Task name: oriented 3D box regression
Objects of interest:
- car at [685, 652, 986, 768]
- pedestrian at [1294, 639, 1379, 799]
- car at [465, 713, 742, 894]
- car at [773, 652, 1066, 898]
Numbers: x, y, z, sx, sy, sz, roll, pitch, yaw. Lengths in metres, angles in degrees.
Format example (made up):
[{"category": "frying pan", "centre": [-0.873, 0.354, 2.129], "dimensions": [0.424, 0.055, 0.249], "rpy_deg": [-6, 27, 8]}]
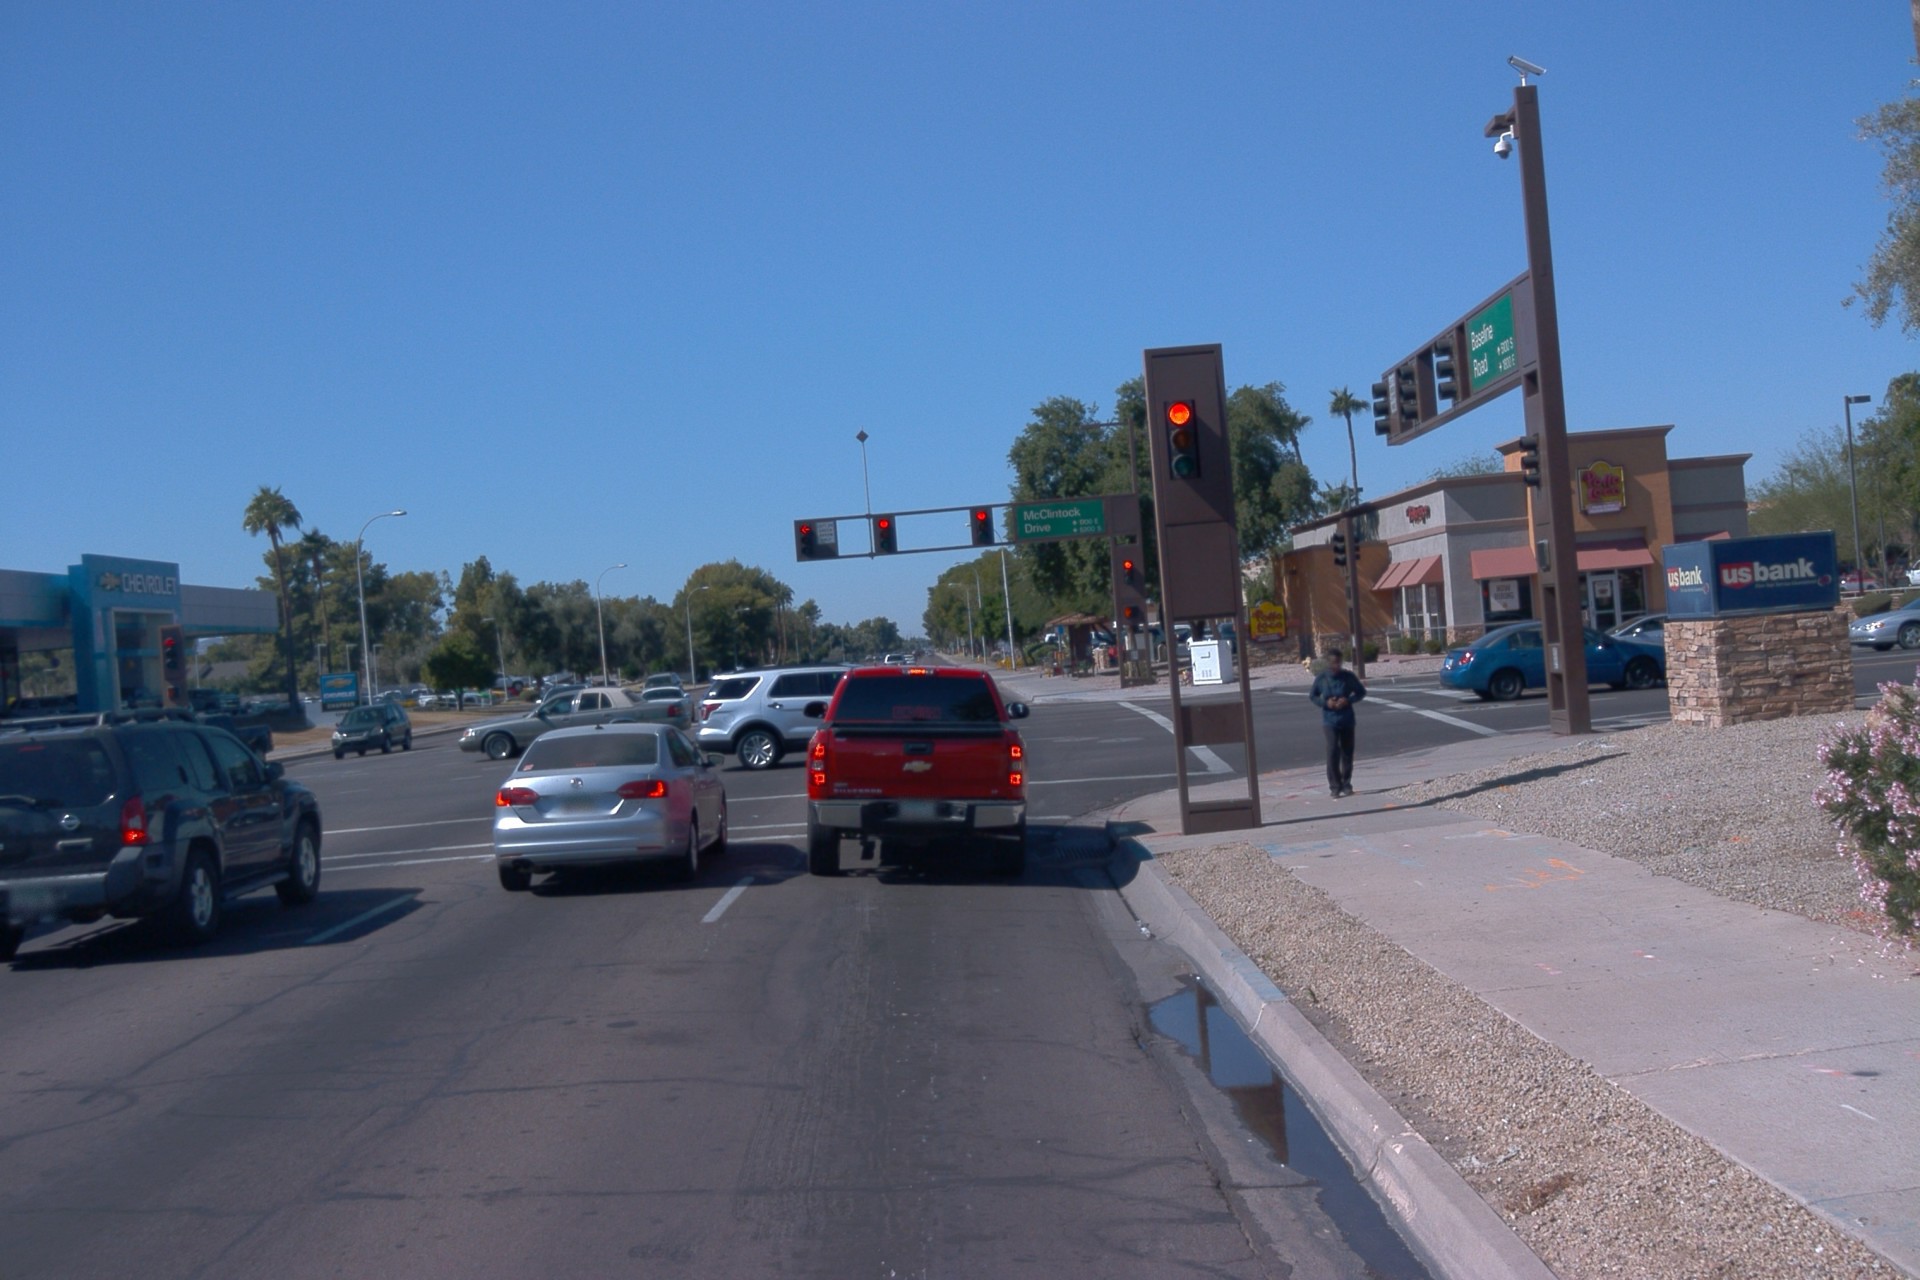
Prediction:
[{"category": "car", "centre": [-2.098, 1.194, 36.268], "dimensions": [5.059, 1.900, 2.145], "rpy_deg": [1, -1, 0]}, {"category": "pedestrian", "centre": [4.163, 0.858, 23.092], "dimensions": [0.808, 1.714, 1.171], "rpy_deg": [1, -1, 5]}, {"category": "car", "centre": [-3.285, 1.475, 20.042], "dimensions": [1.920, 1.450, 4.335], "rpy_deg": [1, -1, 0]}, {"category": "car", "centre": [-0.413, 1.220, 21.042], "dimensions": [2.538, 2.120, 5.758], "rpy_deg": [1, -1, -1]}]
